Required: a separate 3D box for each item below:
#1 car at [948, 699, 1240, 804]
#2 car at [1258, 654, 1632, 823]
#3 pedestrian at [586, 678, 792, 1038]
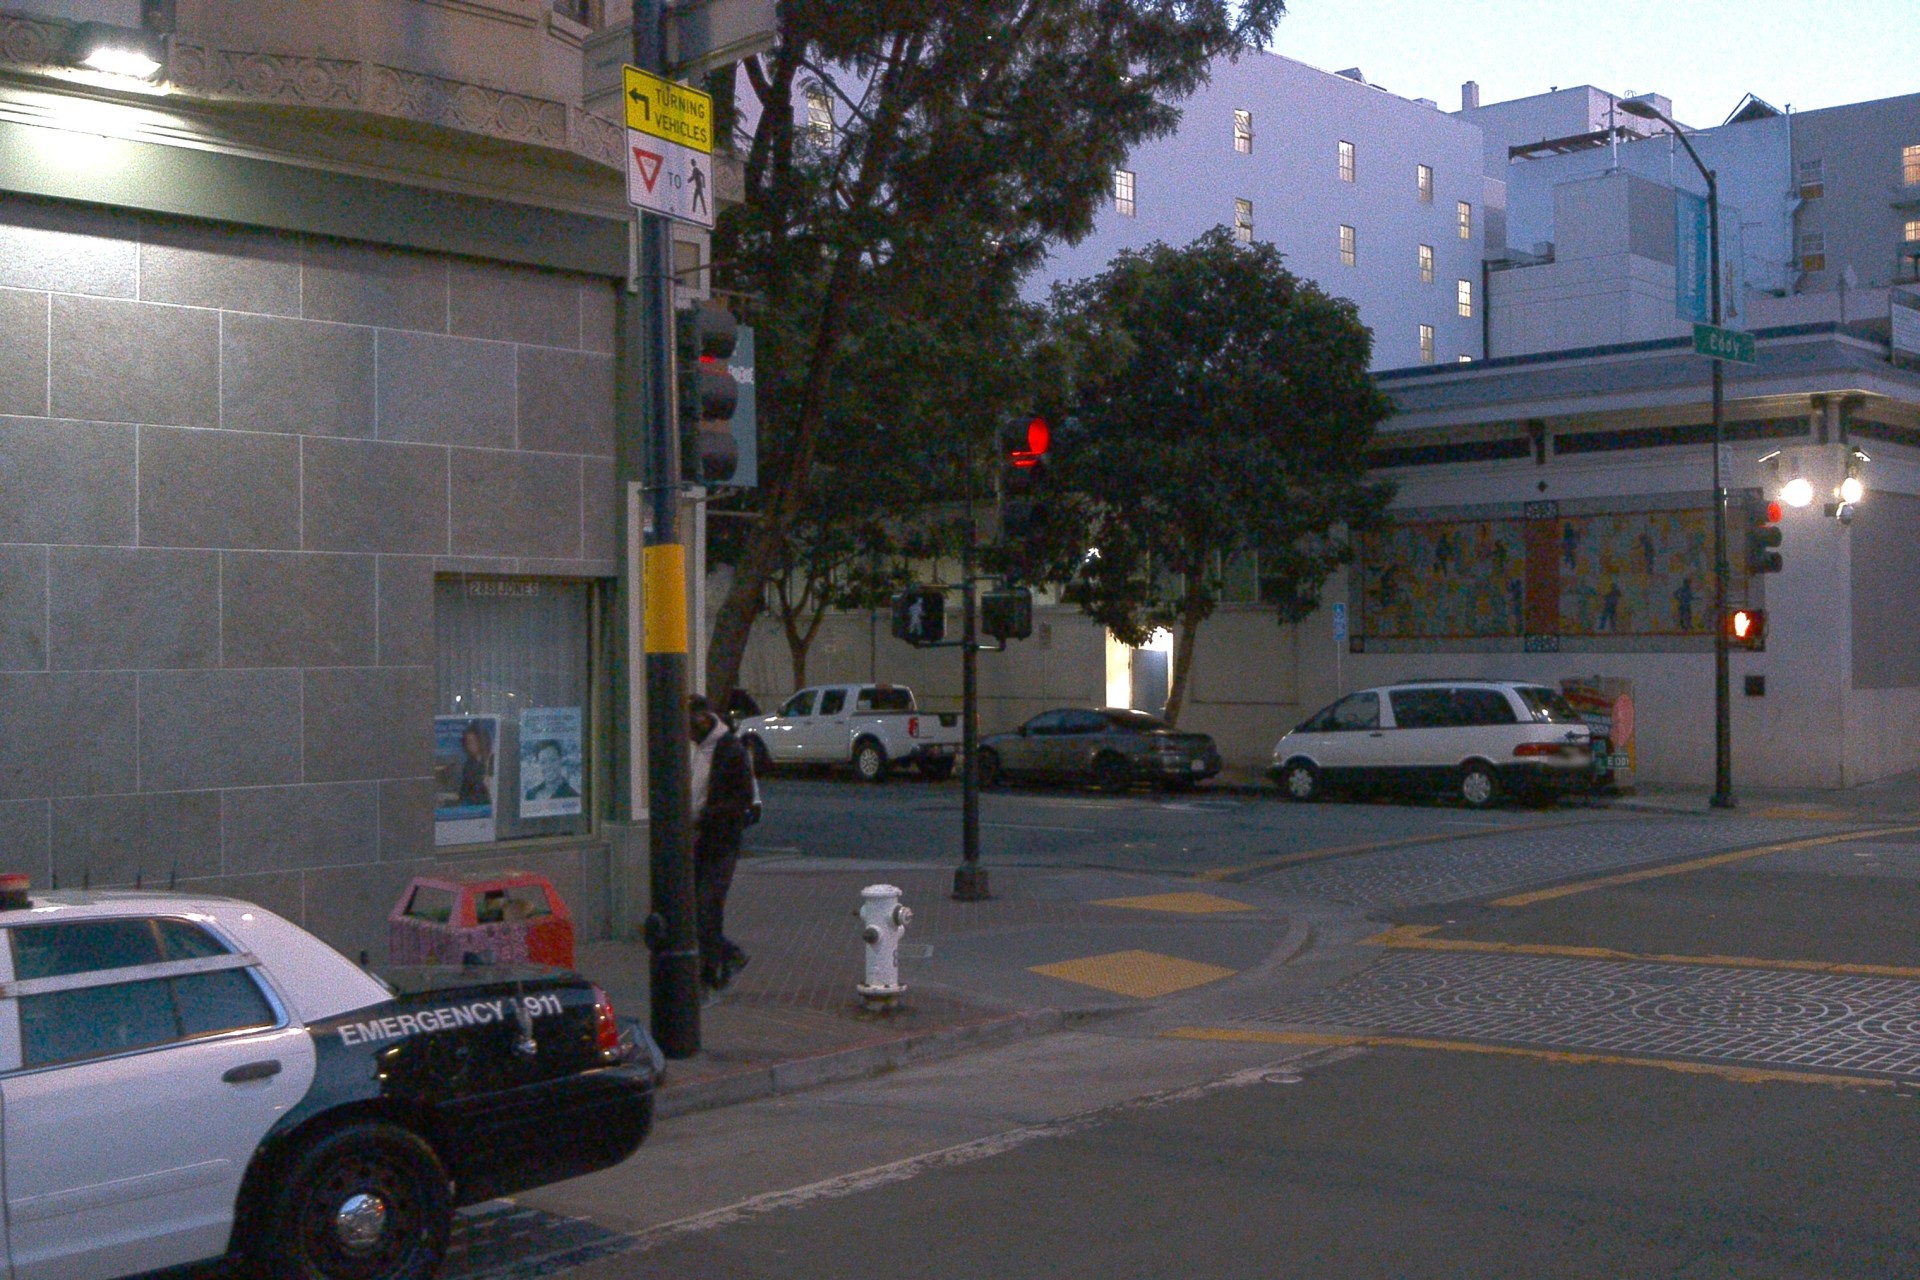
[{"bbox_3d":[2.136,1.774,34.045,1.916,1.390,4.727,-1,1,-45],"label":"car"},{"bbox_3d":[6.791,1.305,29.255,4.809,2.080,2.006,1,1,44],"label":"car"},{"bbox_3d":[-1.623,1.244,12.316,0.872,1.990,0.975,-1,1,-34],"label":"pedestrian"}]
